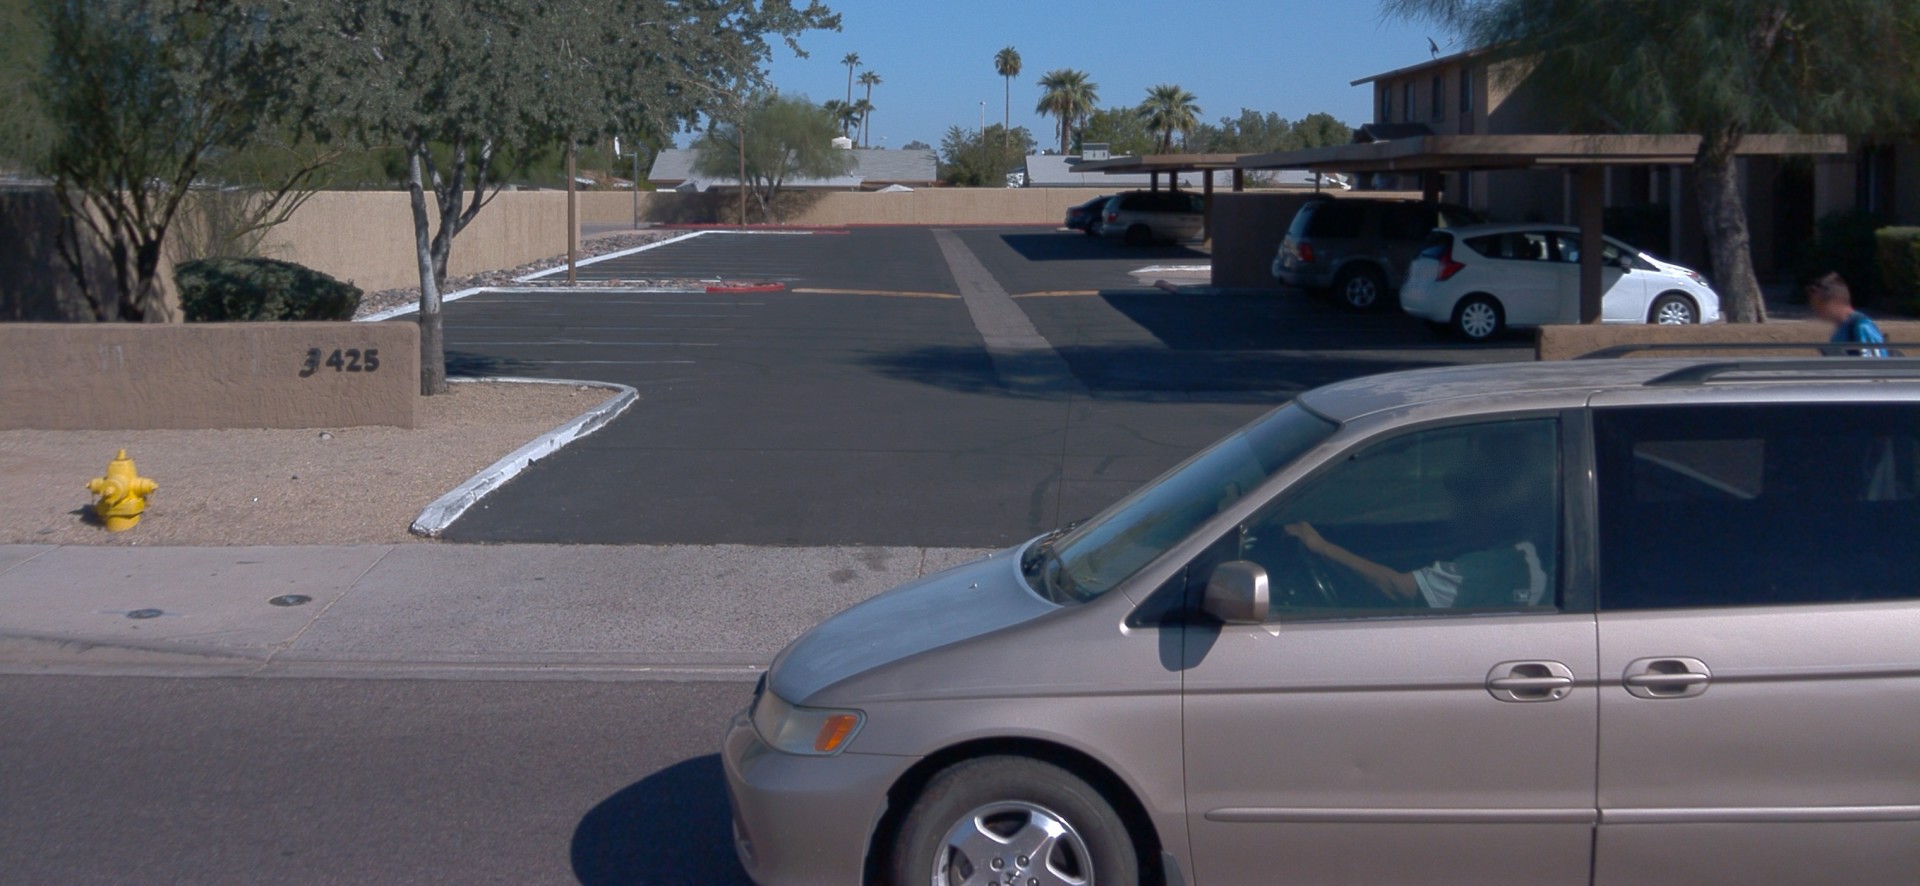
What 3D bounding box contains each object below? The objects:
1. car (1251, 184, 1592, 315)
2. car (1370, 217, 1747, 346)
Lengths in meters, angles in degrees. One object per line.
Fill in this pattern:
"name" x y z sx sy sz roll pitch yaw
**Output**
"car" 7.216 -3.065 32.683 4.937 1.988 1.968 0 3 -1
"car" 7.791 -2.148 27.171 4.379 1.597 1.941 -1 3 -4
